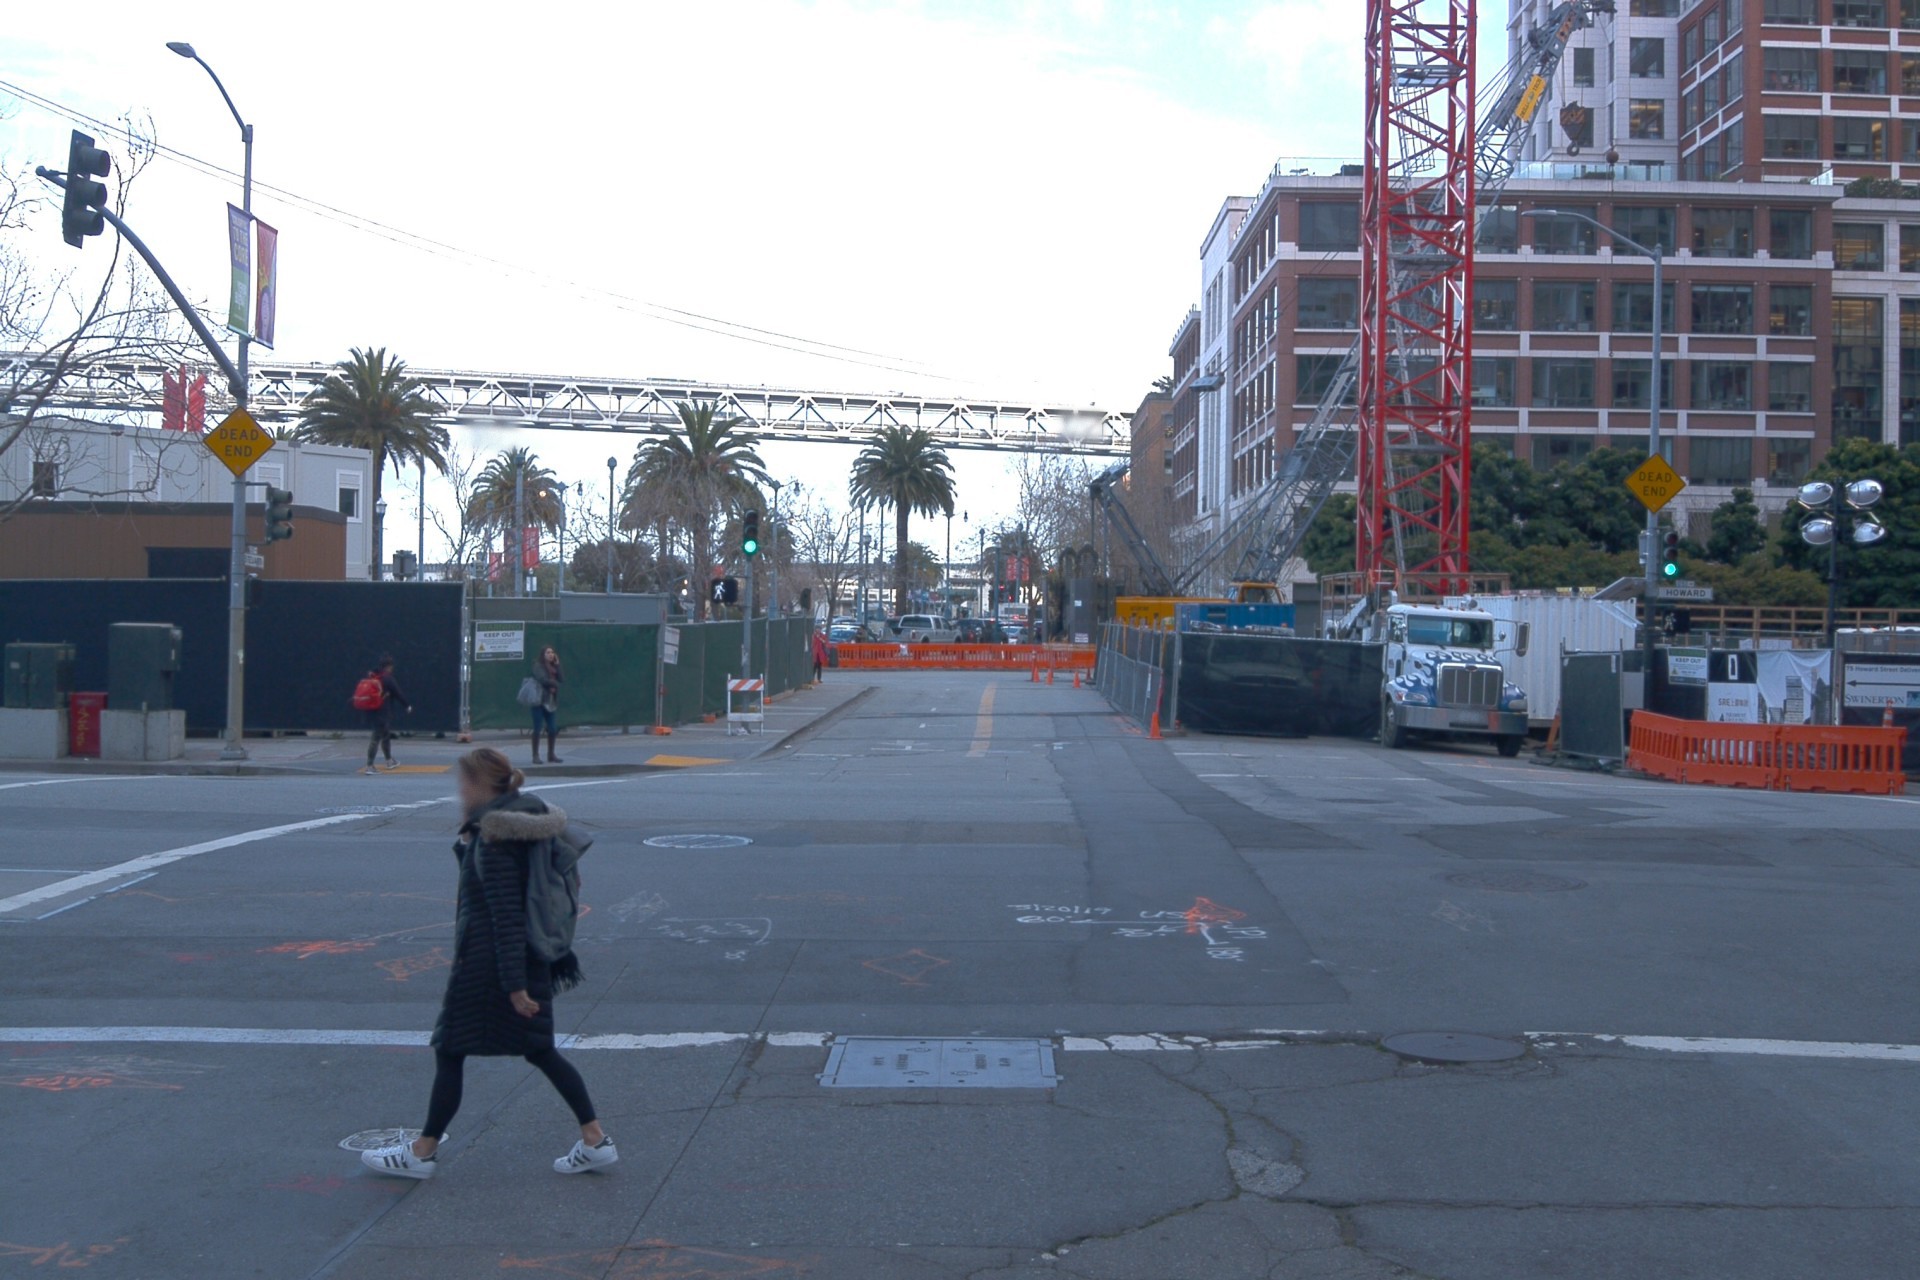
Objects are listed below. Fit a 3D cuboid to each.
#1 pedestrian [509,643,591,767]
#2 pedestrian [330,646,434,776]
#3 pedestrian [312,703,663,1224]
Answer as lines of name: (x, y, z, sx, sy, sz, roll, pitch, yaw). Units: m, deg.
pedestrian: (-5.848, 0.909, 29.178, 0.847, 1.720, 1.092, 1, 0, 6)
pedestrian: (-8.070, 0.972, 28.582, 0.772, 1.760, 1.195, 1, 0, 29)
pedestrian: (-1.751, 1.163, 7.709, 1.088, 1.810, 0.806, 1, 0, 4)
